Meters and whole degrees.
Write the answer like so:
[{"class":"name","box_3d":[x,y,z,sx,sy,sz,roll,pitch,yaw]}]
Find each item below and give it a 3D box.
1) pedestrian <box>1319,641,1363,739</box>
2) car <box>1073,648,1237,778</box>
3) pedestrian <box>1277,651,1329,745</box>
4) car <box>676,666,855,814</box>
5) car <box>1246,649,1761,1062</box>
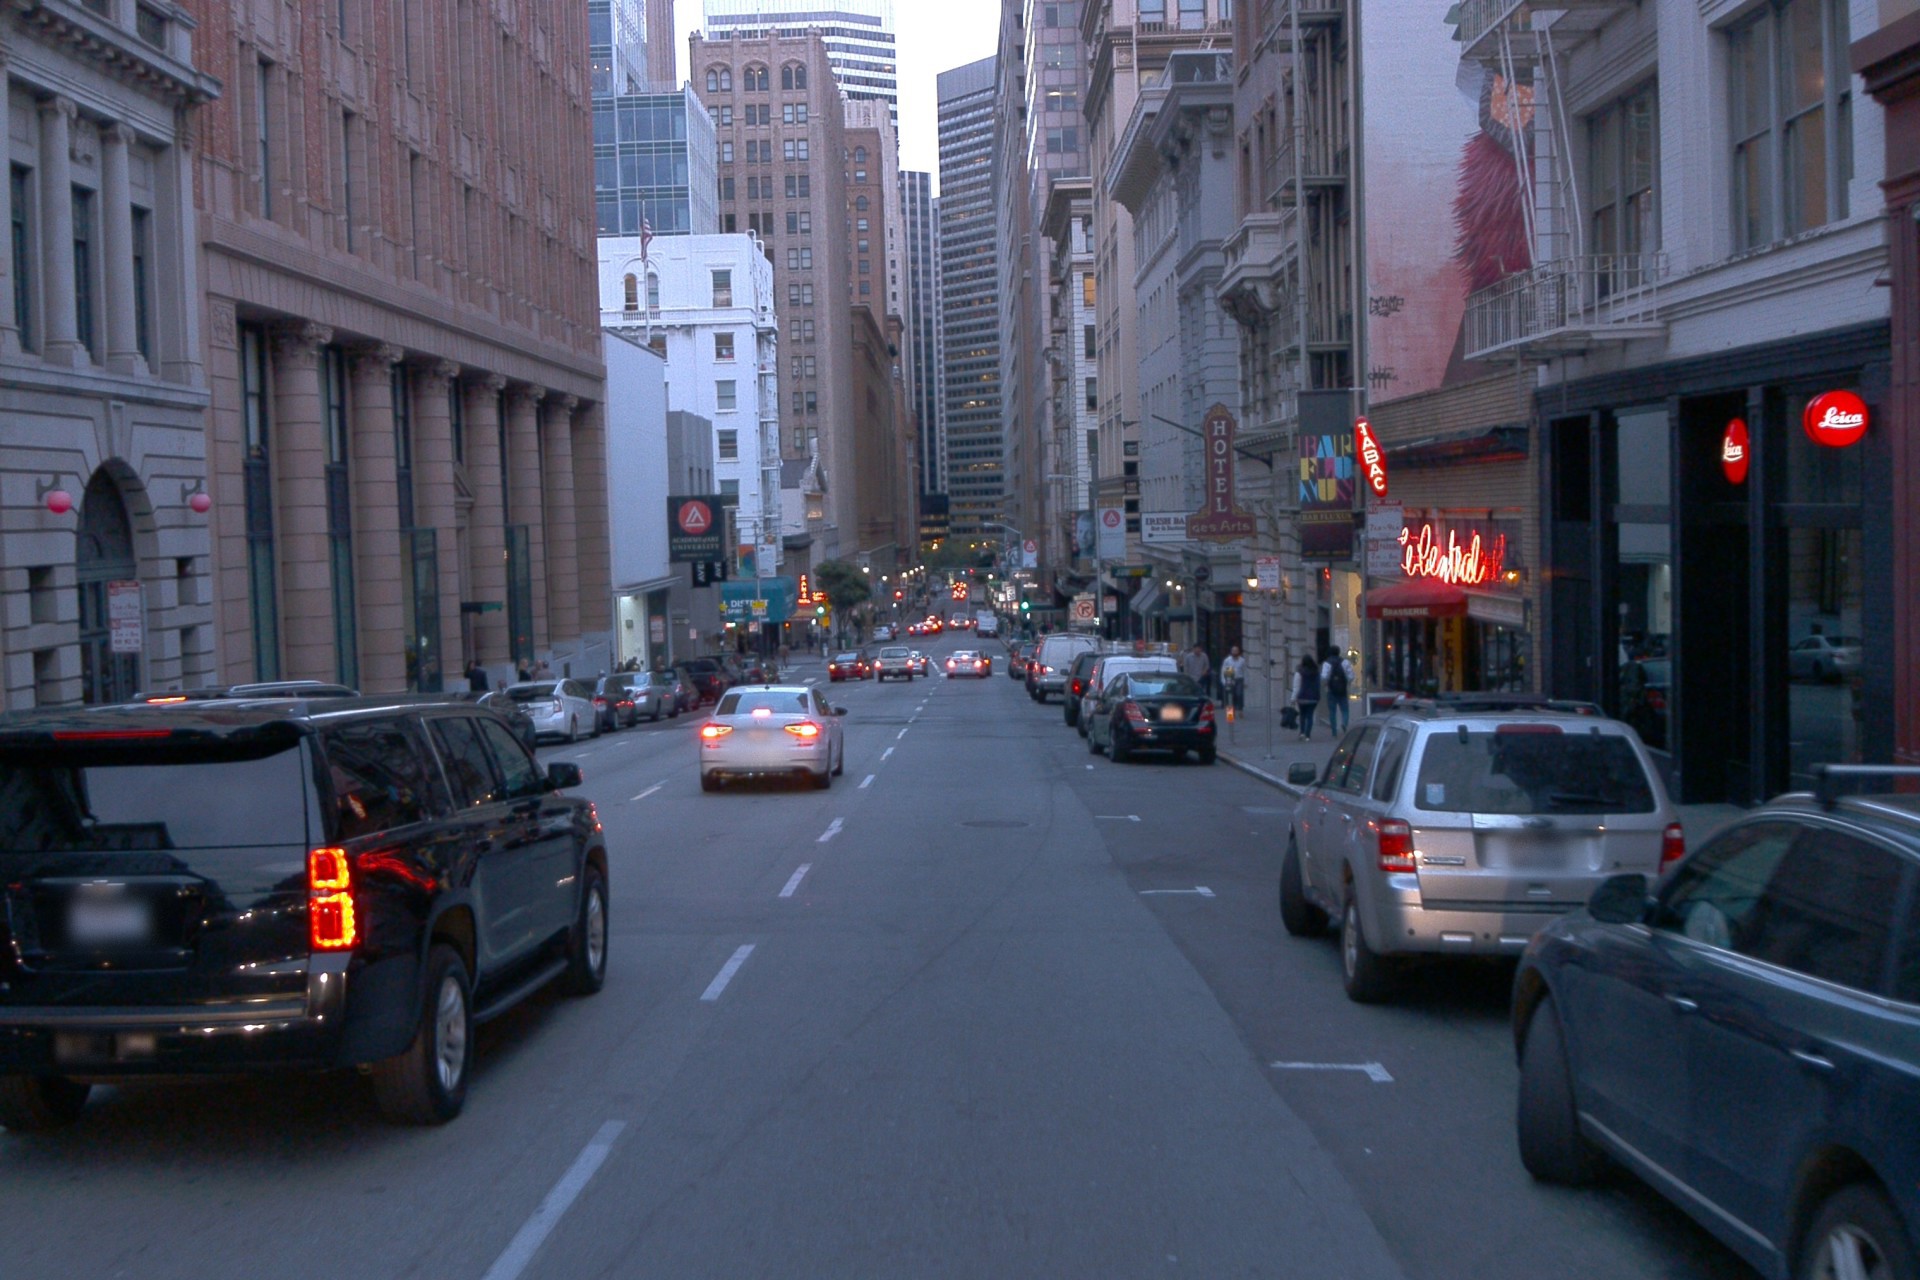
[{"class":"pedestrian","box_3d":[6.921,0.901,37.343,0.706,1.756,0.786,0,1,5]},{"class":"car","box_3d":[3.234,1.174,34.987,1.959,1.980,4.409,0,1,-6]},{"class":"pedestrian","box_3d":[6.205,1.036,37.239,0.897,1.656,0.910,0,1,7]},{"class":"car","box_3d":[-2.718,1.370,29.790,2.119,1.850,4.733,0,1,0]},{"class":"car","box_3d":[3.180,1.152,13.088,2.112,2.100,4.444,0,1,0]}]
